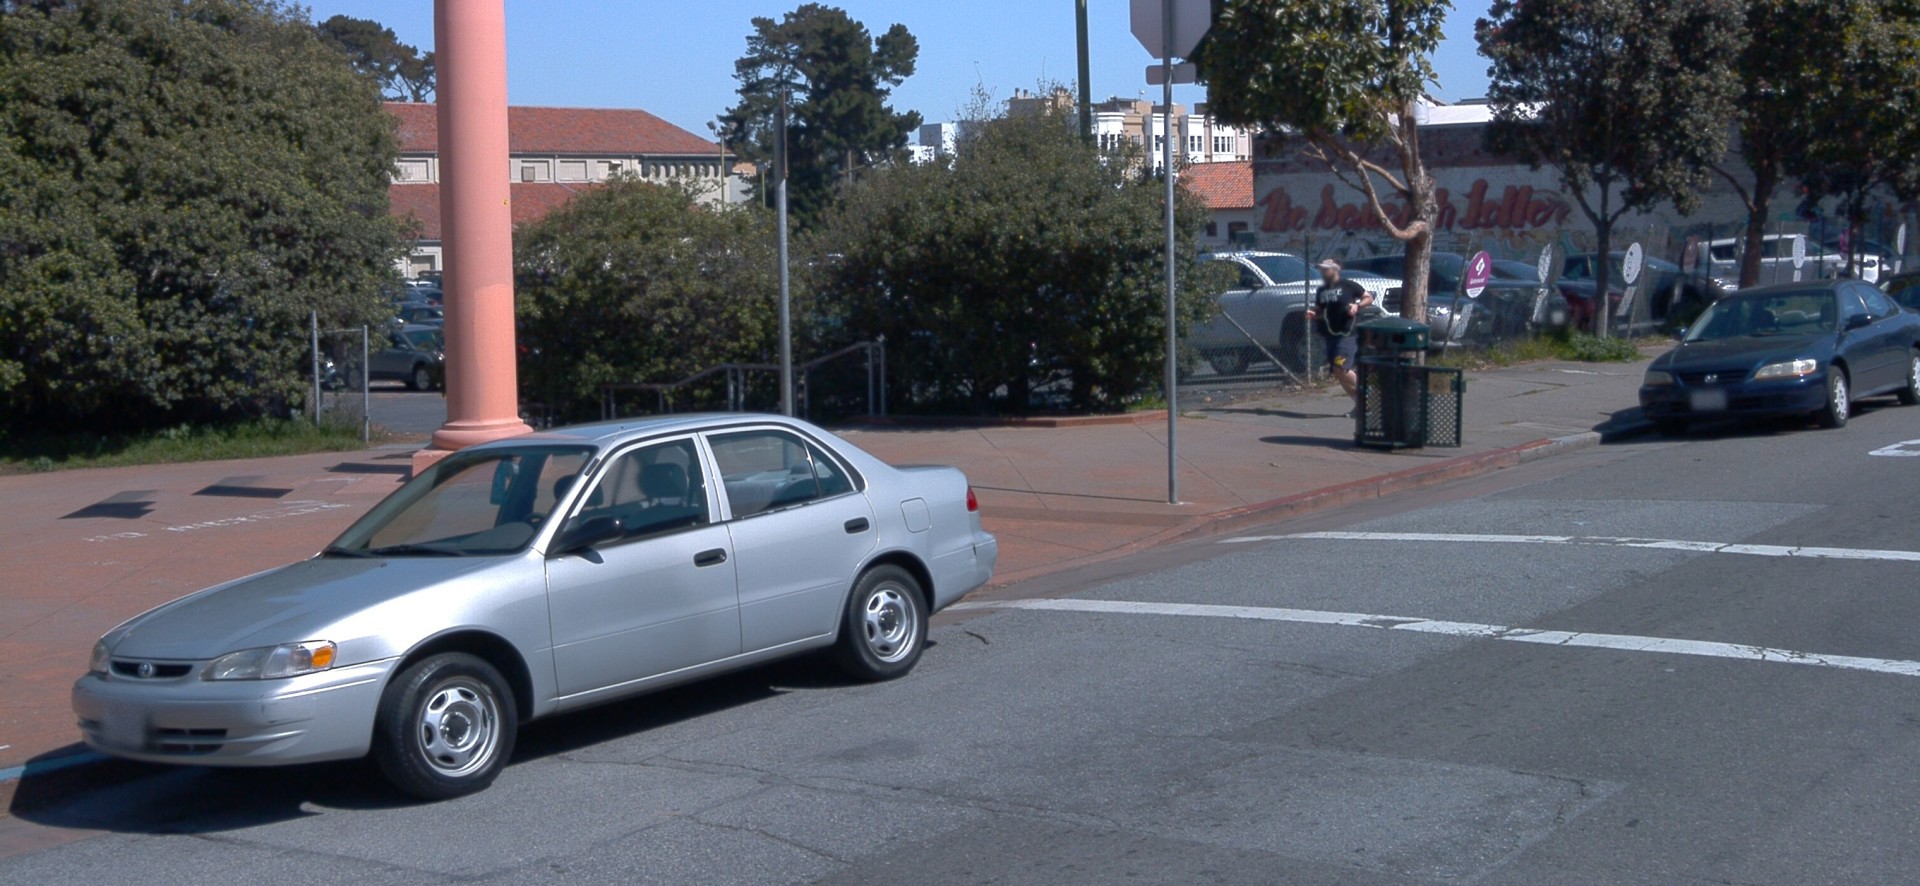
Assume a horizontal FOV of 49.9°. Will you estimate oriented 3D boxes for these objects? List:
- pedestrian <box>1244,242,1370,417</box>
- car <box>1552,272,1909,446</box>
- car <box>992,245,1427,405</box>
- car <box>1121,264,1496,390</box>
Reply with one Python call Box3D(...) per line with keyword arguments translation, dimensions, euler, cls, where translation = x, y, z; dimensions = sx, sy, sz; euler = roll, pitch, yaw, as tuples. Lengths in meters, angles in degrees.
Box3D(translation=(3.621, -1.213, 21.505), dimensions=(1.065, 1.769, 0.826), euler=(-2, 2, -44), cls="pedestrian")
Box3D(translation=(8.182, -0.985, 21.645), dimensions=(2.010, 1.525, 4.892), euler=(3, 6, 40), cls="car")
Box3D(translation=(3.319, -1.721, 28.321), dimensions=(5.684, 1.965, 2.102), euler=(4, 5, 39), cls="car")
Box3D(translation=(5.057, -1.779, 30.348), dimensions=(5.014, 1.645, 2.177), euler=(4, 5, 39), cls="car")
